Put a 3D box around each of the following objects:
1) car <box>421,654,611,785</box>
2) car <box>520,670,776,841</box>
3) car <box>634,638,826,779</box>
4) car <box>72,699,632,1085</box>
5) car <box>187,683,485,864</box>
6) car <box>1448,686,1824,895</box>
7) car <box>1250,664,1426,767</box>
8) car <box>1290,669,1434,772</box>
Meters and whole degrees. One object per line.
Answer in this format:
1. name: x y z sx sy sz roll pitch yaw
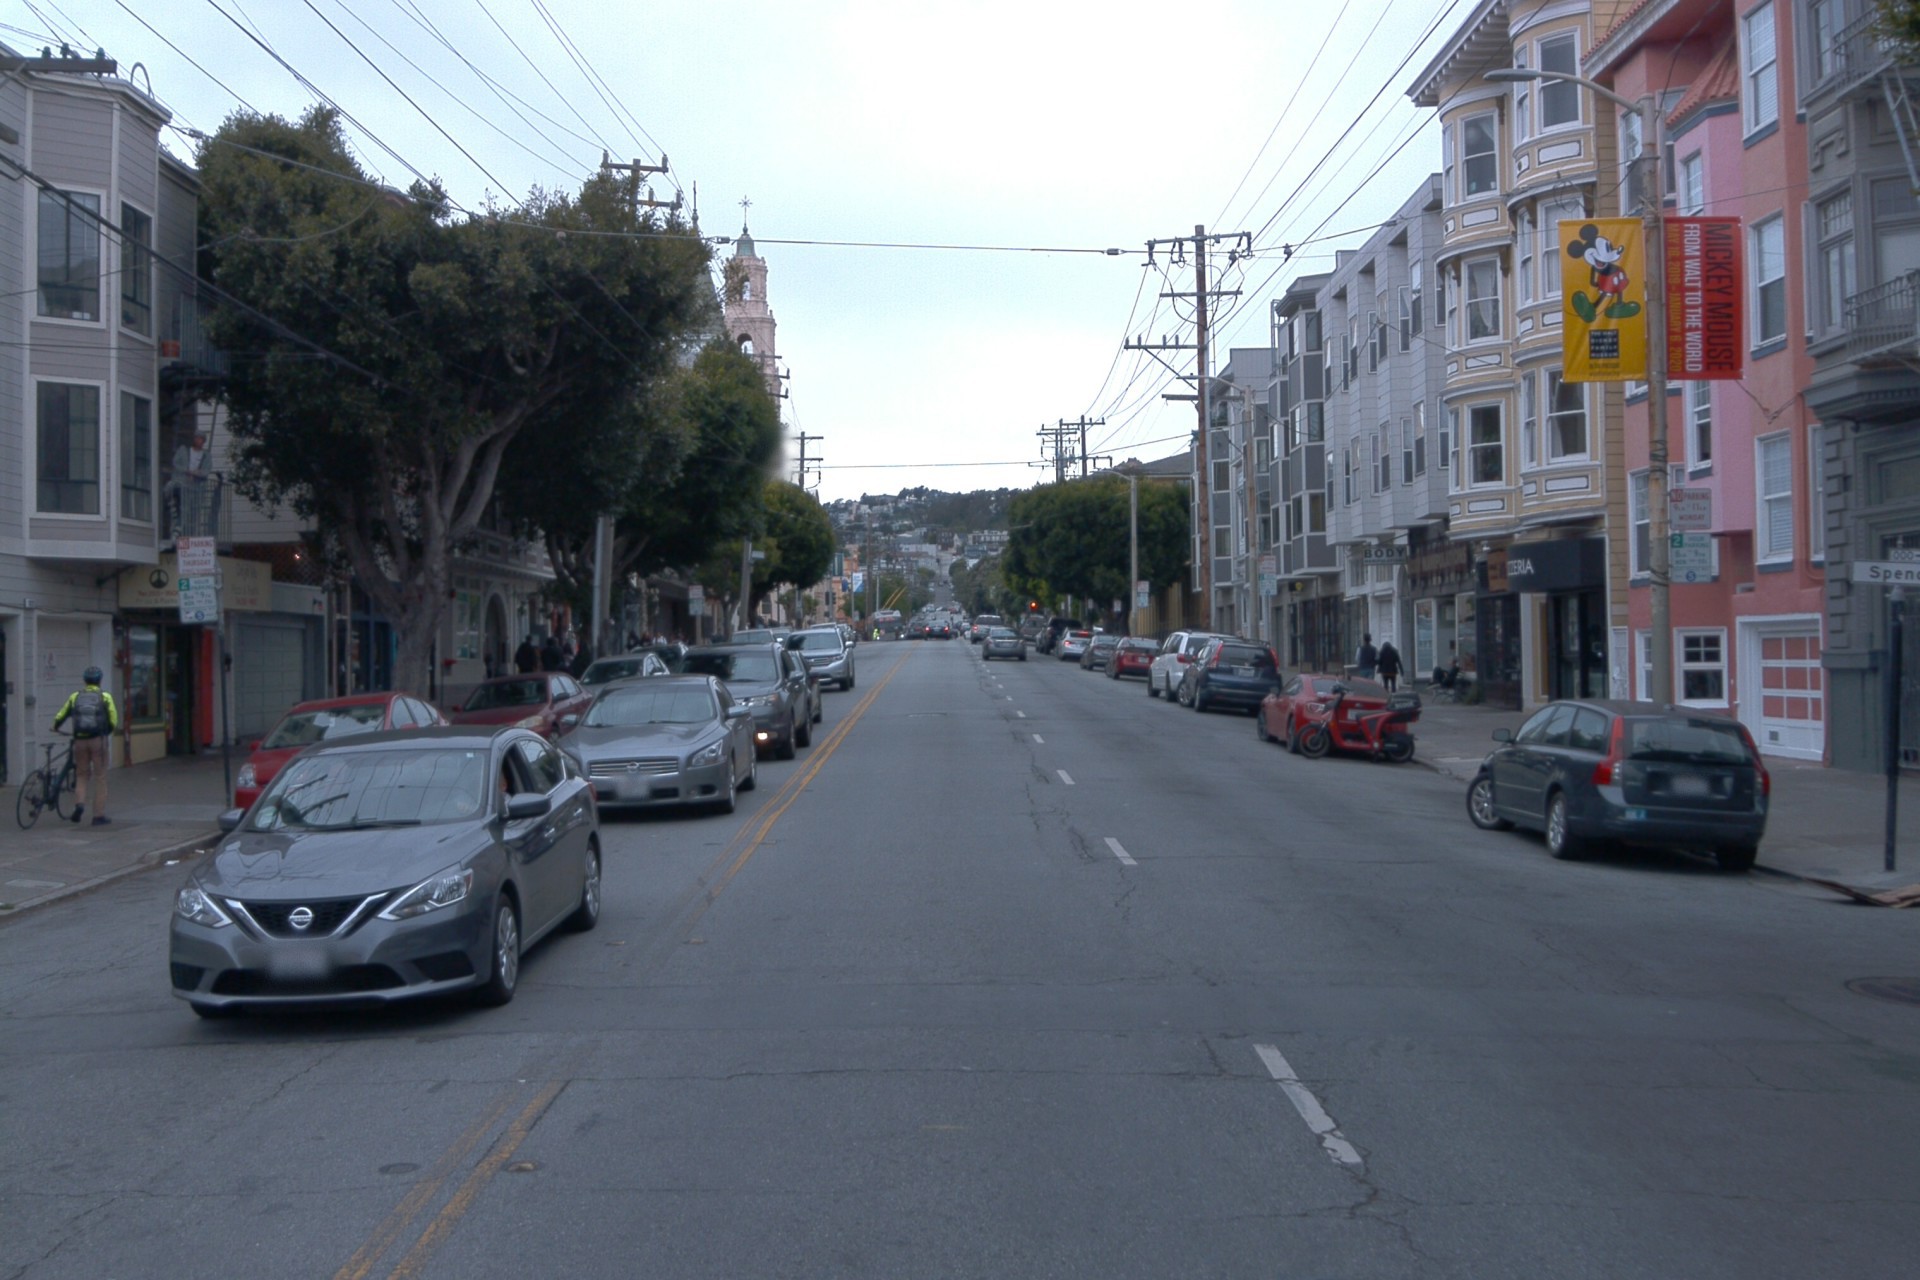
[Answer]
1. car: -7.126 1.225 33.455 1.945 1.869 4.477 0 1 2
2. car: -3.325 1.189 22.916 2.085 1.550 4.767 0 1 1
3. car: -3.371 0.953 31.095 2.264 1.880 4.792 0 1 1
4. car: -3.340 1.301 12.375 2.004 1.670 4.656 0 1 0
5. car: -7.157 1.463 24.126 2.073 1.750 4.545 0 1 1
6. car: 6.242 1.326 19.622 2.070 1.580 4.527 0 1 0
7. car: 6.102 1.182 33.680 2.021 1.450 4.341 0 1 -1
8. car: 6.057 1.204 31.036 2.015 1.490 0.827 0 1 1
